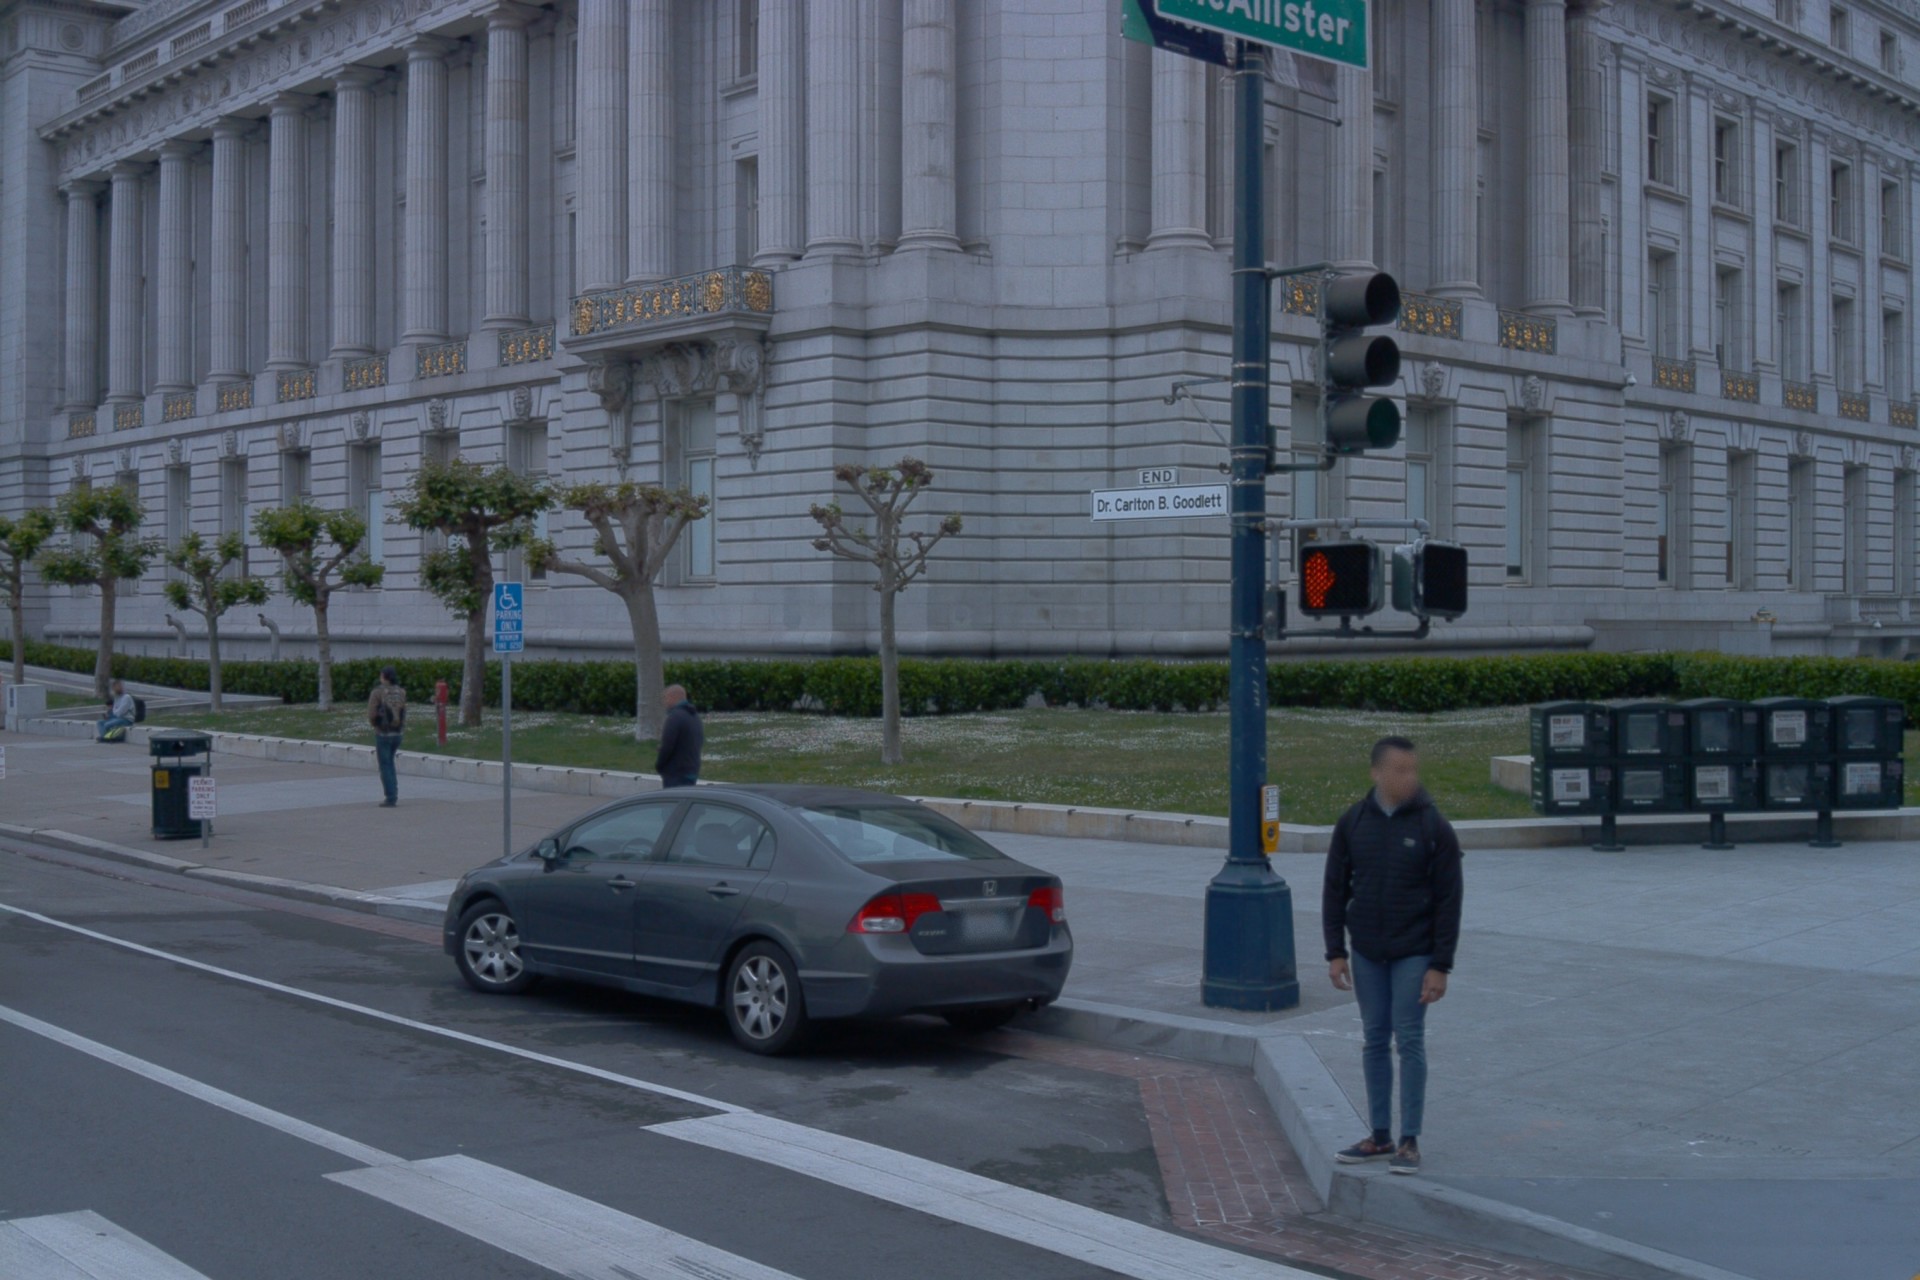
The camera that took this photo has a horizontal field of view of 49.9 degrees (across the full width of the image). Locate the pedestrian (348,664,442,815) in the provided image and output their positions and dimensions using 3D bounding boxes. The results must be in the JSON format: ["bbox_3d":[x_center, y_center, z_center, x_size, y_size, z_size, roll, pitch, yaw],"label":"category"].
[{"bbox_3d":[-7.055,1.214,25.771,0.736,1.815,1.004,-1,1,-43],"label":"pedestrian"}]

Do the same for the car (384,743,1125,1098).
[{"bbox_3d":[-1.414,1.529,12.708,4.588,1.512,2.021,0,1,43],"label":"car"}]

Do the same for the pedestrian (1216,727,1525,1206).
[{"bbox_3d":[1.639,1.257,8.342,0.931,1.760,0.834,0,1,-17],"label":"pedestrian"}]

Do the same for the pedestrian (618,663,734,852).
[{"bbox_3d":[-2.727,1.111,19.894,0.918,1.757,0.758,0,1,12],"label":"pedestrian"}]
